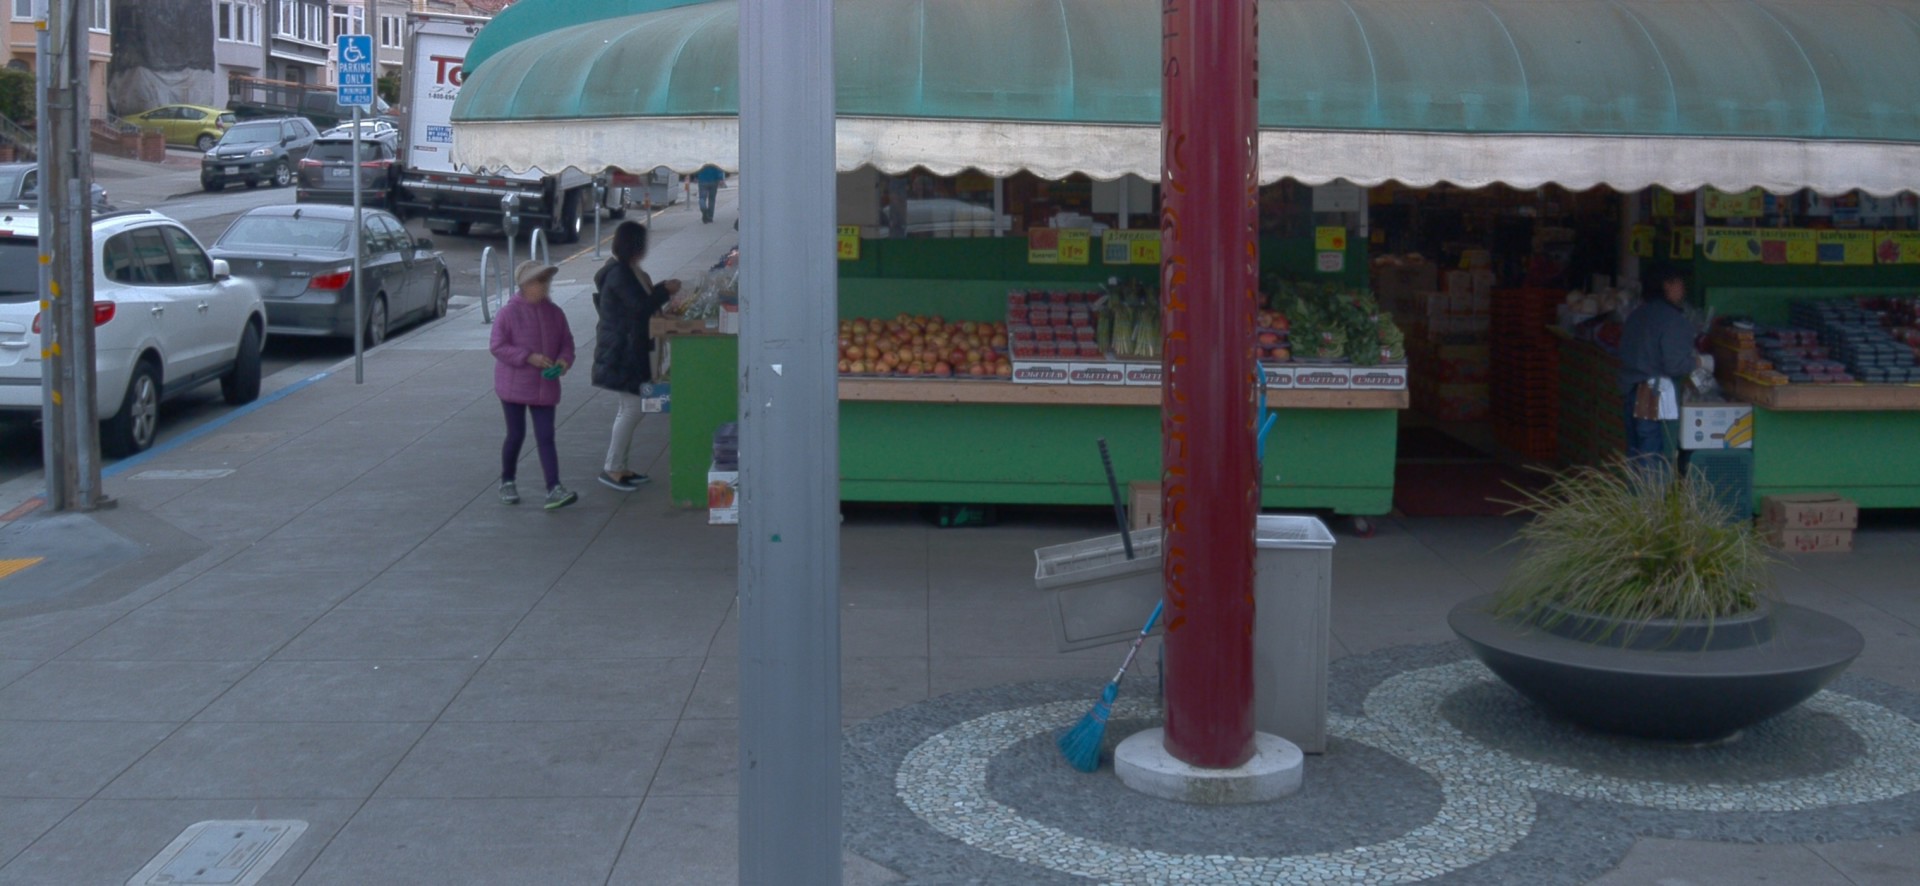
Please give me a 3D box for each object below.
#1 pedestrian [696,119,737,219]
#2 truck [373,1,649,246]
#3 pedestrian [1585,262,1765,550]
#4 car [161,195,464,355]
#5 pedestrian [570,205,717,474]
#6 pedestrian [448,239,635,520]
[{"bbox_3d":[-4.481,-5.037,37.869,0.707,1.817,0.655,0,2,-3],"label":"pedestrian"},{"bbox_3d":[-7.701,-5.467,36.845,2.914,3.770,10.115,0,5,-1],"label":"truck"},{"bbox_3d":[4.012,-0.234,11.597,0.743,1.557,0.755,0,2,0],"label":"pedestrian"},{"bbox_3d":[-6.727,-1.842,21.910,1.969,1.513,4.609,0,6,-3],"label":"car"},{"bbox_3d":[-1.976,-0.672,12.790,0.796,1.607,0.823,-1,2,-17],"label":"pedestrian"},{"bbox_3d":[-2.436,-0.405,12.013,0.798,1.564,0.705,1,2,26],"label":"pedestrian"}]
